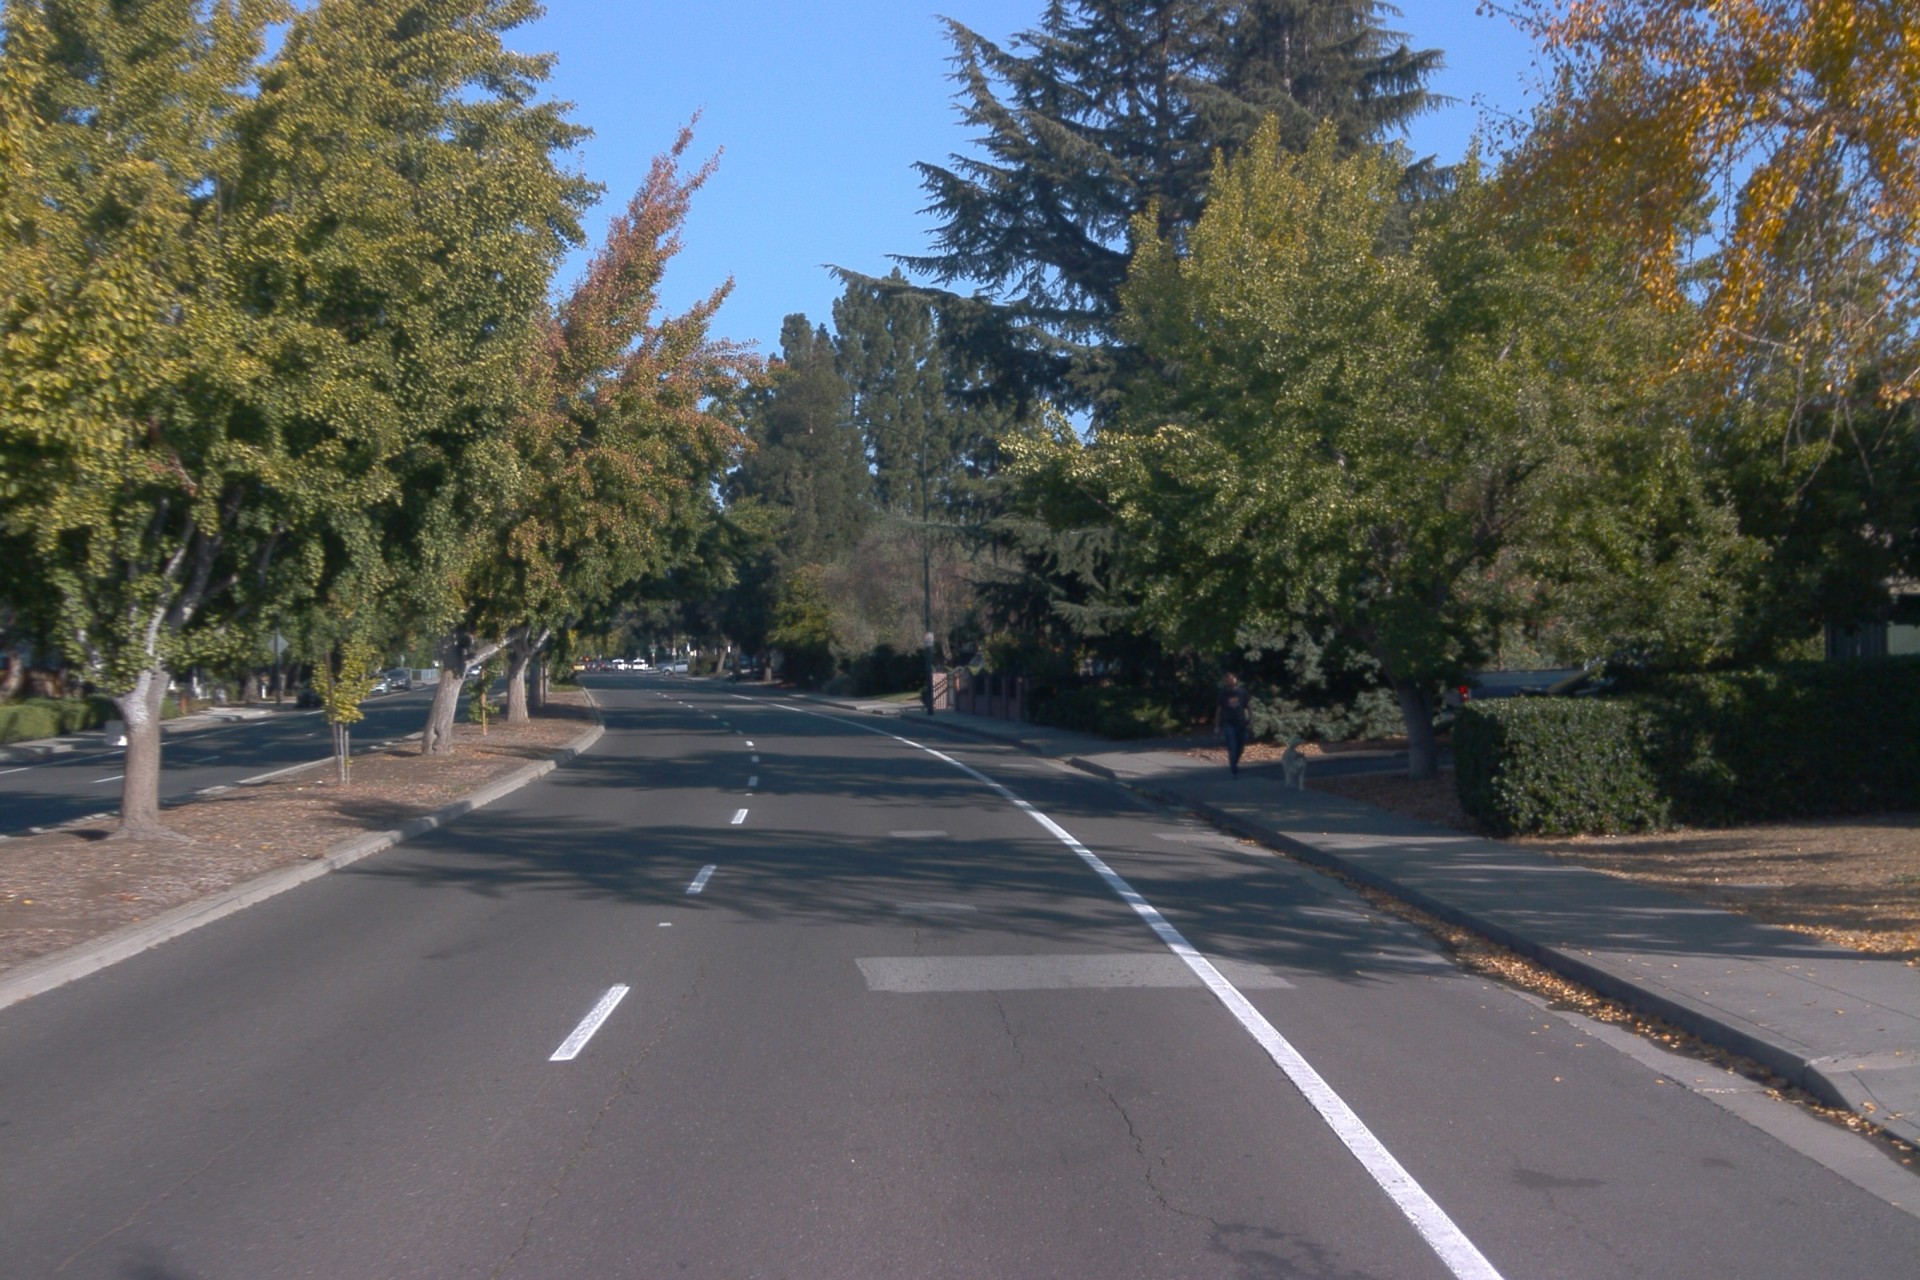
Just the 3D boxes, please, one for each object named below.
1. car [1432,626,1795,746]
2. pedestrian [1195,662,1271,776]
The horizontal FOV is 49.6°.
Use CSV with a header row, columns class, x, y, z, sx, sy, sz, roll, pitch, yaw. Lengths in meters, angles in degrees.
class,x,y,z,sx,sy,sz,roll,pitch,yaw
car,11.258,0.778,36.157,5.572,1.940,2.417,1,0,2
pedestrian,4.399,1.262,33.520,1.000,1.800,1.000,1,0,-4
